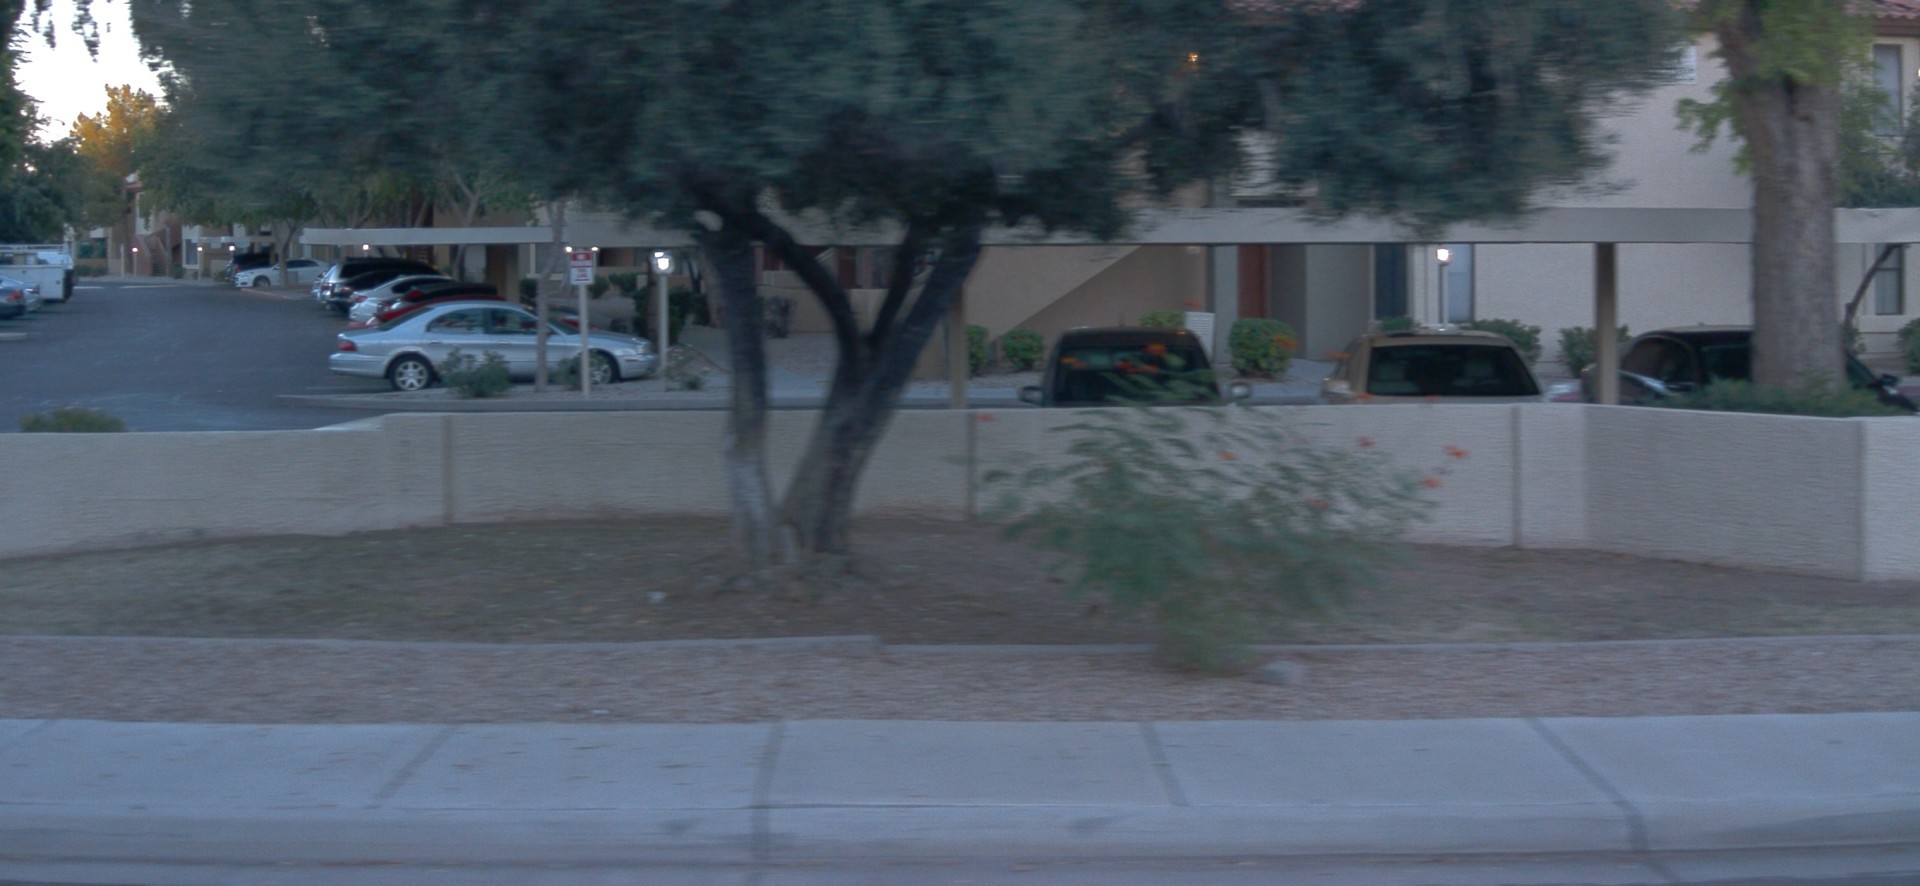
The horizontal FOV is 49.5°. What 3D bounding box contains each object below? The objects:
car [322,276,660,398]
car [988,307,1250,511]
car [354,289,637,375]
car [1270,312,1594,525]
[{"bbox_3d":[-7.398,-1.737,33.190,5.087,1.735,1.979,-1,4,-11],"label":"car"},{"bbox_3d":[1.412,-0.414,18.713,2.063,1.393,4.558,0,6,4],"label":"car"},{"bbox_3d":[-8.630,-2.106,38.820,4.999,1.395,2.129,-2,5,-14],"label":"car"},{"bbox_3d":[4.016,-0.333,18.530,2.144,1.433,4.560,0,6,4],"label":"car"}]
